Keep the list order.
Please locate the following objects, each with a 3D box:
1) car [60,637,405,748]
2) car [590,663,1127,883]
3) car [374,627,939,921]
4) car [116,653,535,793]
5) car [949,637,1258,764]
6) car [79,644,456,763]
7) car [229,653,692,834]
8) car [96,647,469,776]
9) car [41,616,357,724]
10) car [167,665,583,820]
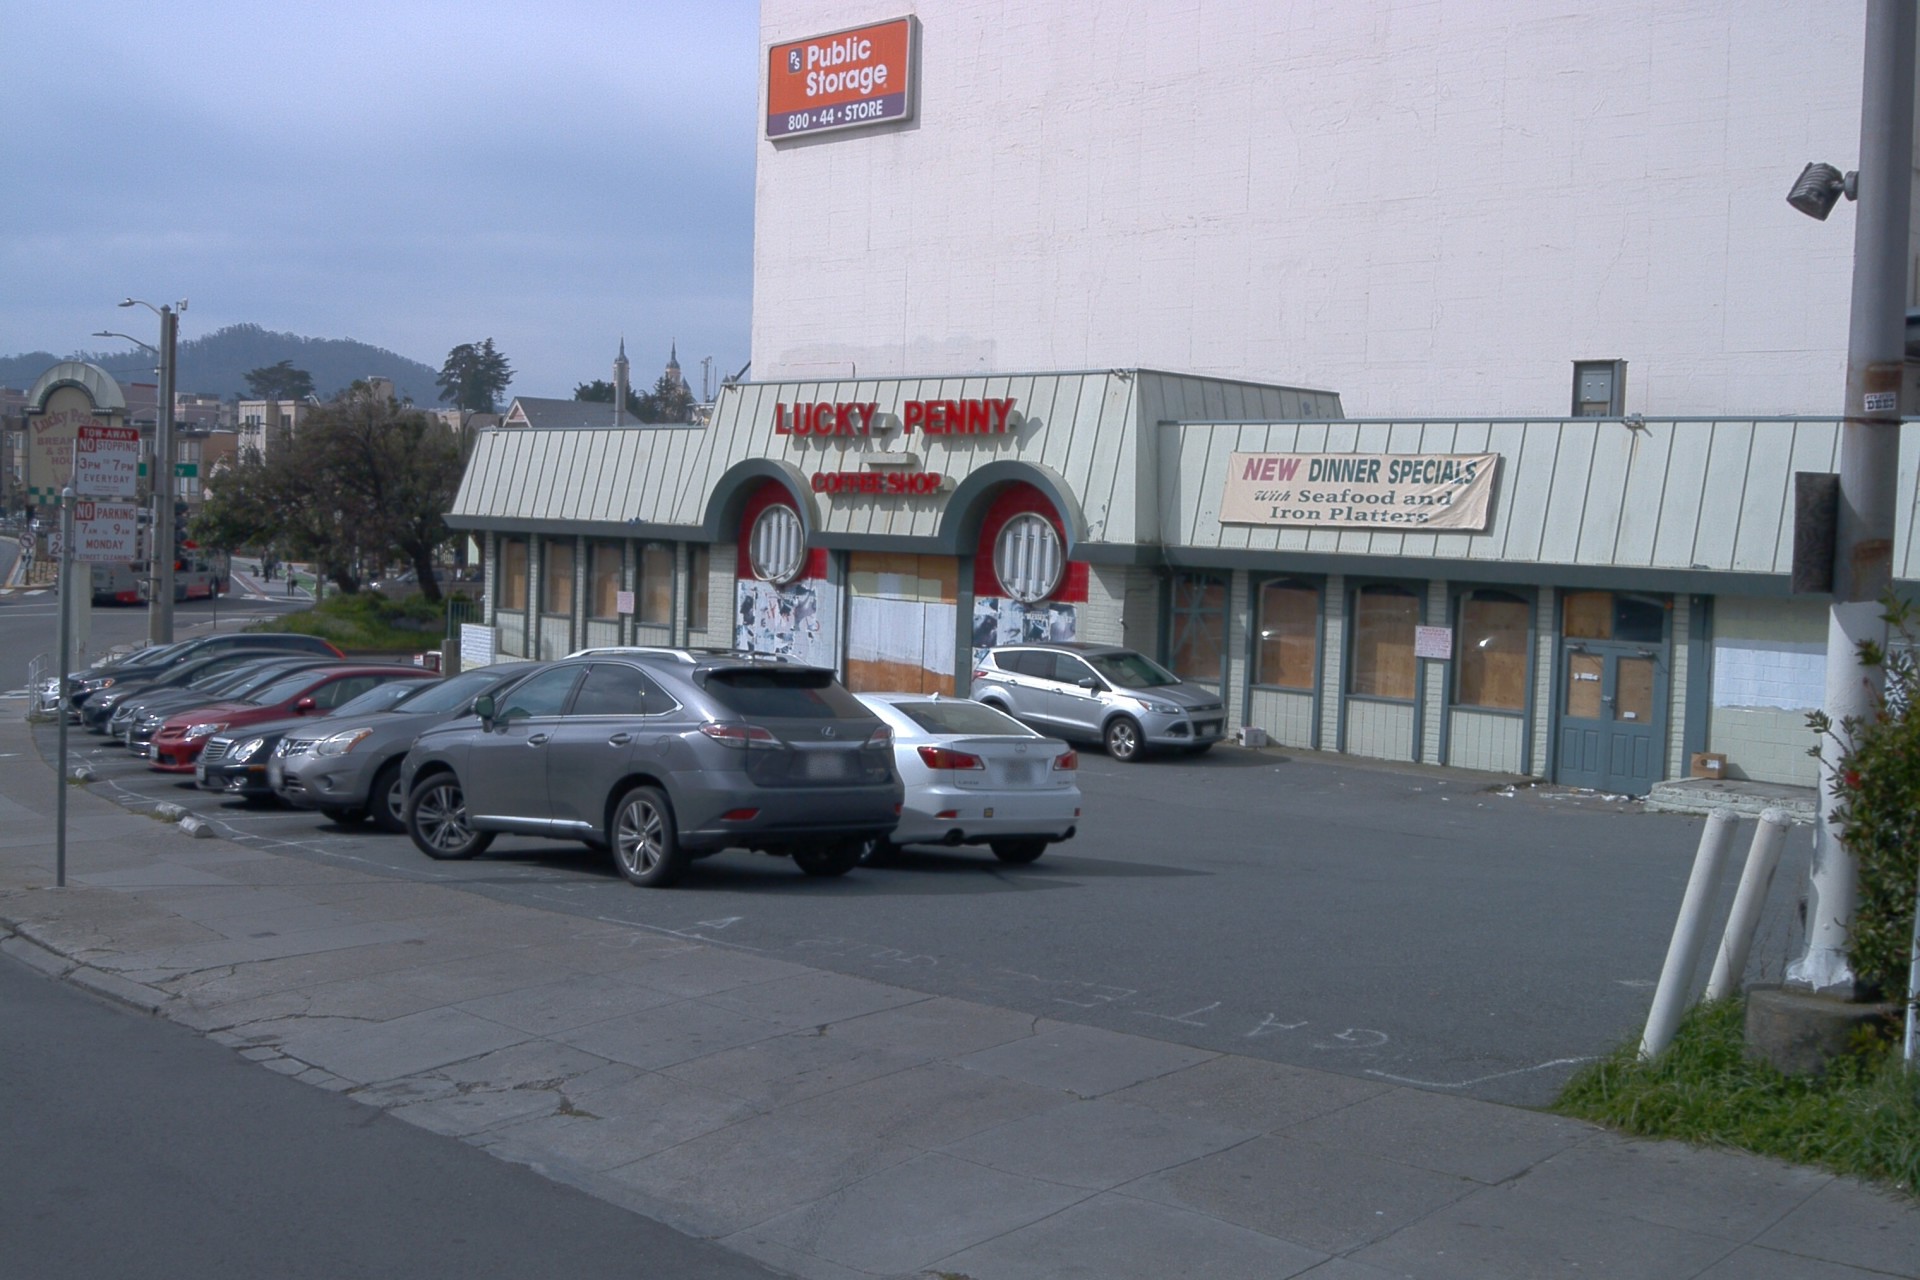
[{"bbox_3d":[-11.457,0.780,32.416,4.651,1.610,2.192,0,0,-43],"label":"car"},{"bbox_3d":[-1.019,1.036,17.965,2.088,1.580,4.738,0,0,-44],"label":"car"},{"bbox_3d":[-2.478,0.884,15.878,2.065,1.920,4.493,0,0,-45],"label":"car"},{"bbox_3d":[-7.804,0.948,25.413,4.484,1.550,2.134,0,0,-43],"label":"car"},{"bbox_3d":[2.166,0.876,31.979,2.134,1.790,4.557,0,0,-43],"label":"car"},{"bbox_3d":[-10.113,0.871,30.090,4.736,1.590,2.241,0,0,-43],"label":"car"},{"bbox_3d":[-4.883,0.935,20.333,1.975,1.570,4.019,1,0,44],"label":"car"},{"bbox_3d":[-9.111,0.899,27.712,4.343,1.580,1.994,0,0,-43],"label":"car"},{"bbox_3d":[-12.828,0.469,34.649,4.561,1.710,2.059,0,0,-43],"label":"car"},{"bbox_3d":[-6.424,1.059,22.722,4.029,1.500,1.869,0,0,-45],"label":"car"}]
